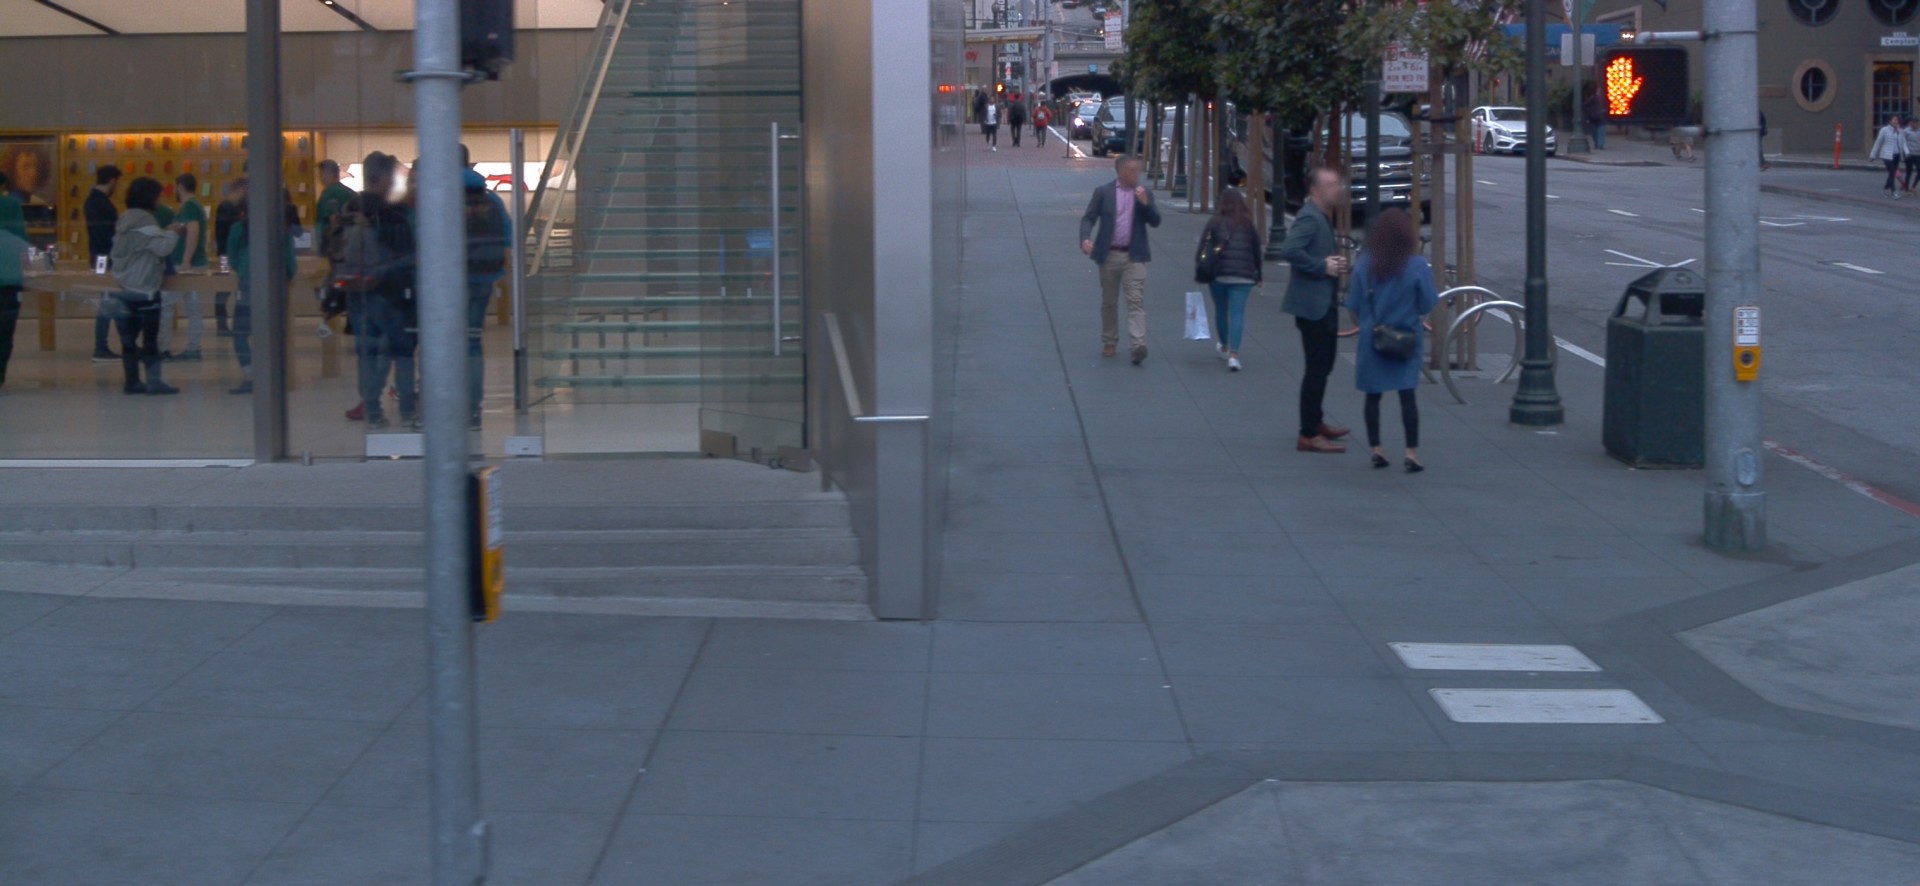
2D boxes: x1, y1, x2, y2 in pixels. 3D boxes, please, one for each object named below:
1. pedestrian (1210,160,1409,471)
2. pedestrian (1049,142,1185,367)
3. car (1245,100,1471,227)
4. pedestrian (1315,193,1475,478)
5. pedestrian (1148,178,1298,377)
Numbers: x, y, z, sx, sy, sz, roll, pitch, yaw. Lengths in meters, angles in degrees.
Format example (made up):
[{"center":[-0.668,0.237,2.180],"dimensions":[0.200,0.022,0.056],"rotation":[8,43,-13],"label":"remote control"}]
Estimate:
[{"center":[2.323,-0.881,13.663],"dimensions":[0.933,1.956,0.991],"rotation":[2,3,40],"label":"pedestrian"},{"center":[1.339,-1.641,17.801],"dimensions":[1.070,1.876,1.135],"rotation":[0,3,-1],"label":"pedestrian"},{"center":[6.981,-4.963,37.072],"dimensions":[2.913,2.048,6.867],"rotation":[0,6,1],"label":"car"},{"center":[2.750,-0.710,13.100],"dimensions":[0.948,1.746,0.807],"rotation":[0,2,8],"label":"pedestrian"},{"center":[2.222,-1.429,17.552],"dimensions":[1.171,1.636,1.106],"rotation":[0,3,2],"label":"pedestrian"}]
